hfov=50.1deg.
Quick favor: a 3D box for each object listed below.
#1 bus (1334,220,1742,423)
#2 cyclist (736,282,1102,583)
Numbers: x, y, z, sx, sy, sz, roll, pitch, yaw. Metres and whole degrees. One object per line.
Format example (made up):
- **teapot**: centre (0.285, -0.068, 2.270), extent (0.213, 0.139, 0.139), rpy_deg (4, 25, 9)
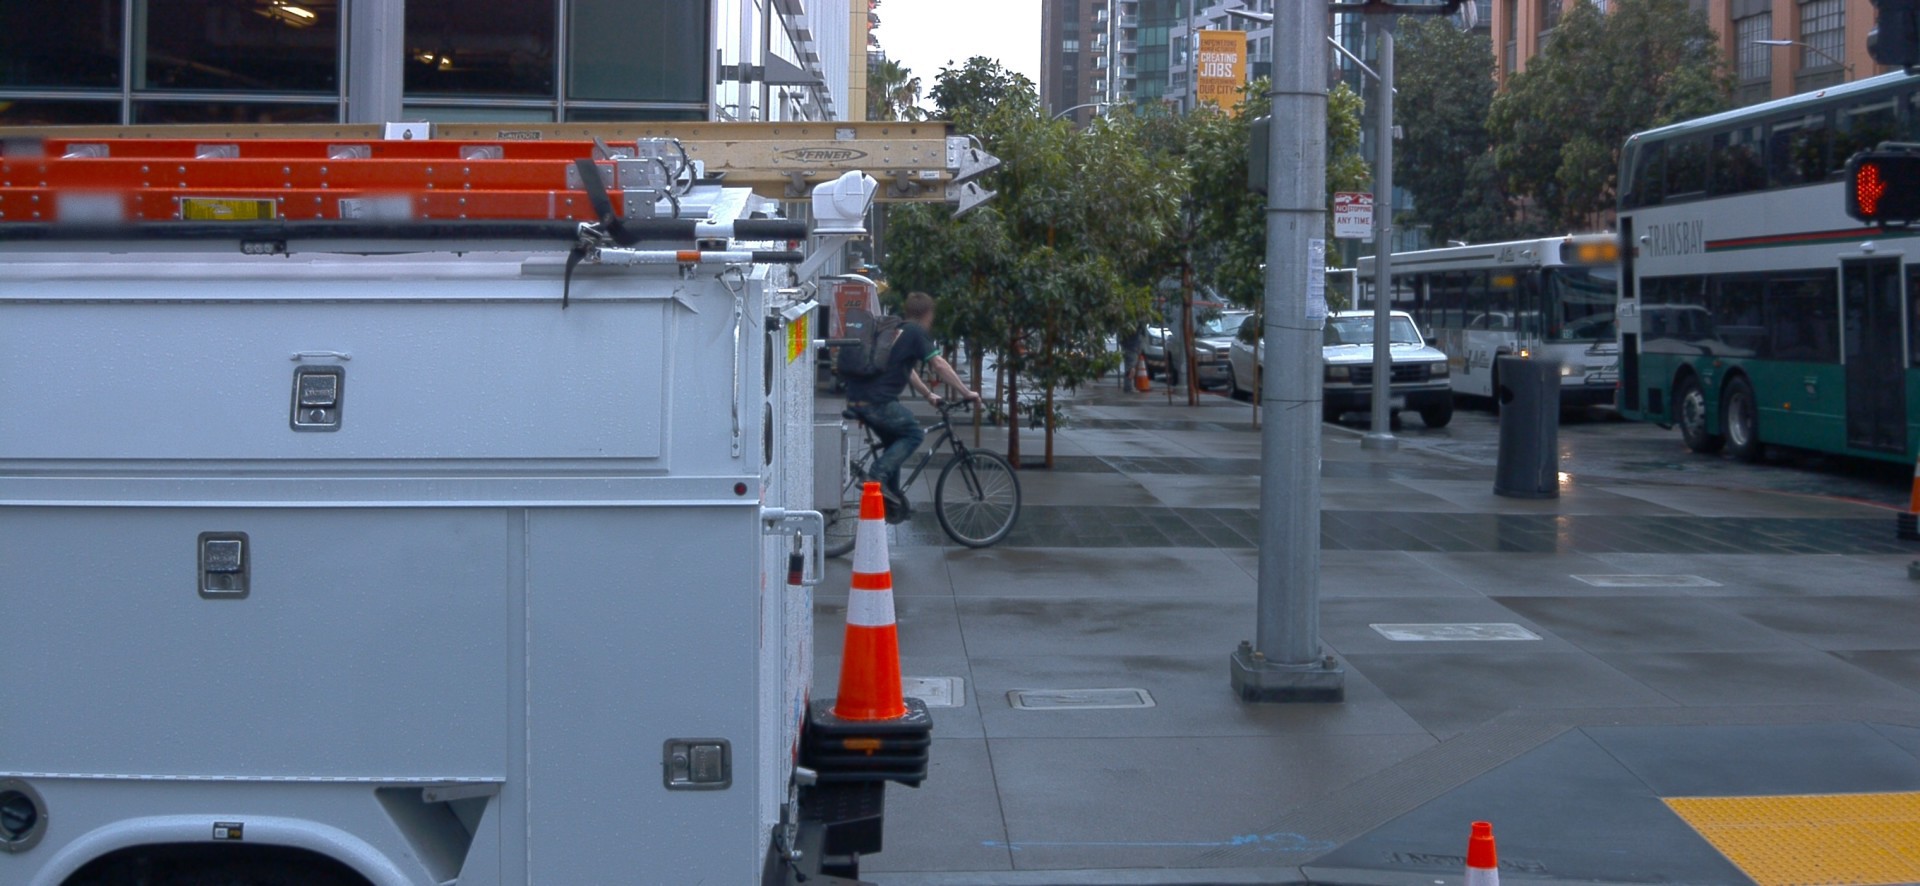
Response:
- **bus**: centre (9.756, -2.454, 36.867), extent (3.258, 2.996, 12.707), rpy_deg (0, 6, -2)
- **cyclist**: centre (-0.272, -0.140, 13.219), extent (2.027, 1.742, 1.211), rpy_deg (-2, 3, -28)
